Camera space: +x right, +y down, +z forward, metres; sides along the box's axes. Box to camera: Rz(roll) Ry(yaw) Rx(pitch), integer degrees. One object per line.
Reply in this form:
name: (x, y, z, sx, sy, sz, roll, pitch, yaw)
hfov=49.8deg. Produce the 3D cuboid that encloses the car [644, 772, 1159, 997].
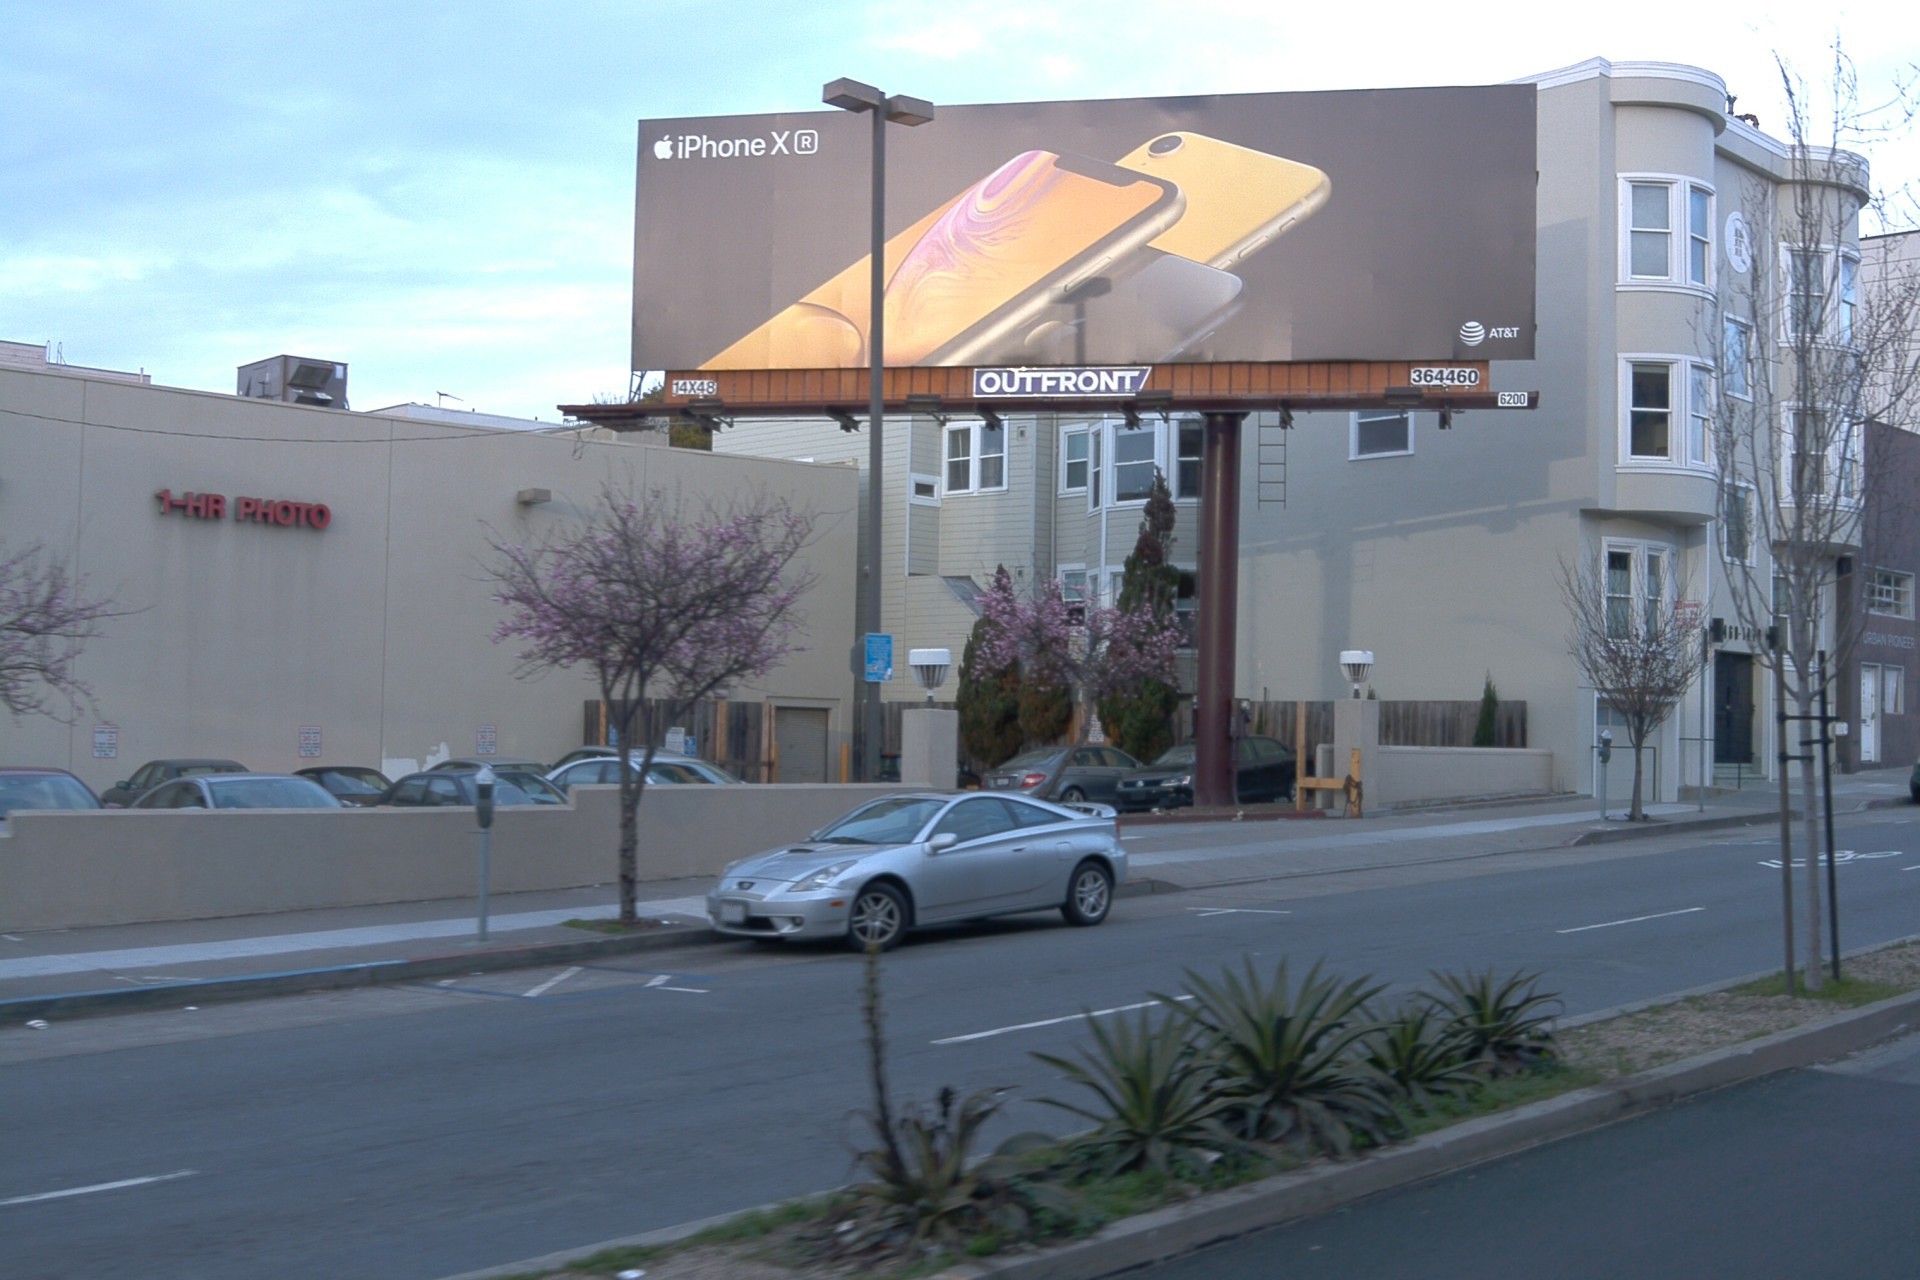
car: (-0.407, 2.038, 18.286, 1.943, 1.430, 4.424, 2, 1, 44)

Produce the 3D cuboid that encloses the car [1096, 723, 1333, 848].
car: (4.620, 2.542, 37.132, 1.869, 1.890, 4.512, 2, 1, 44)

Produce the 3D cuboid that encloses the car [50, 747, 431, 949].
car: (-7.828, 2.117, 22.225, 2.126, 1.600, 4.704, 0, 1, -43)

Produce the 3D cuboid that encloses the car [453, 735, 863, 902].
car: (-3.829, 2.123, 25.694, 5.036, 1.560, 2.191, 1, 1, 39)

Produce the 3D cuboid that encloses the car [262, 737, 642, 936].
car: (-5.966, 2.160, 23.933, 4.729, 1.770, 2.001, 2, 1, 43)
